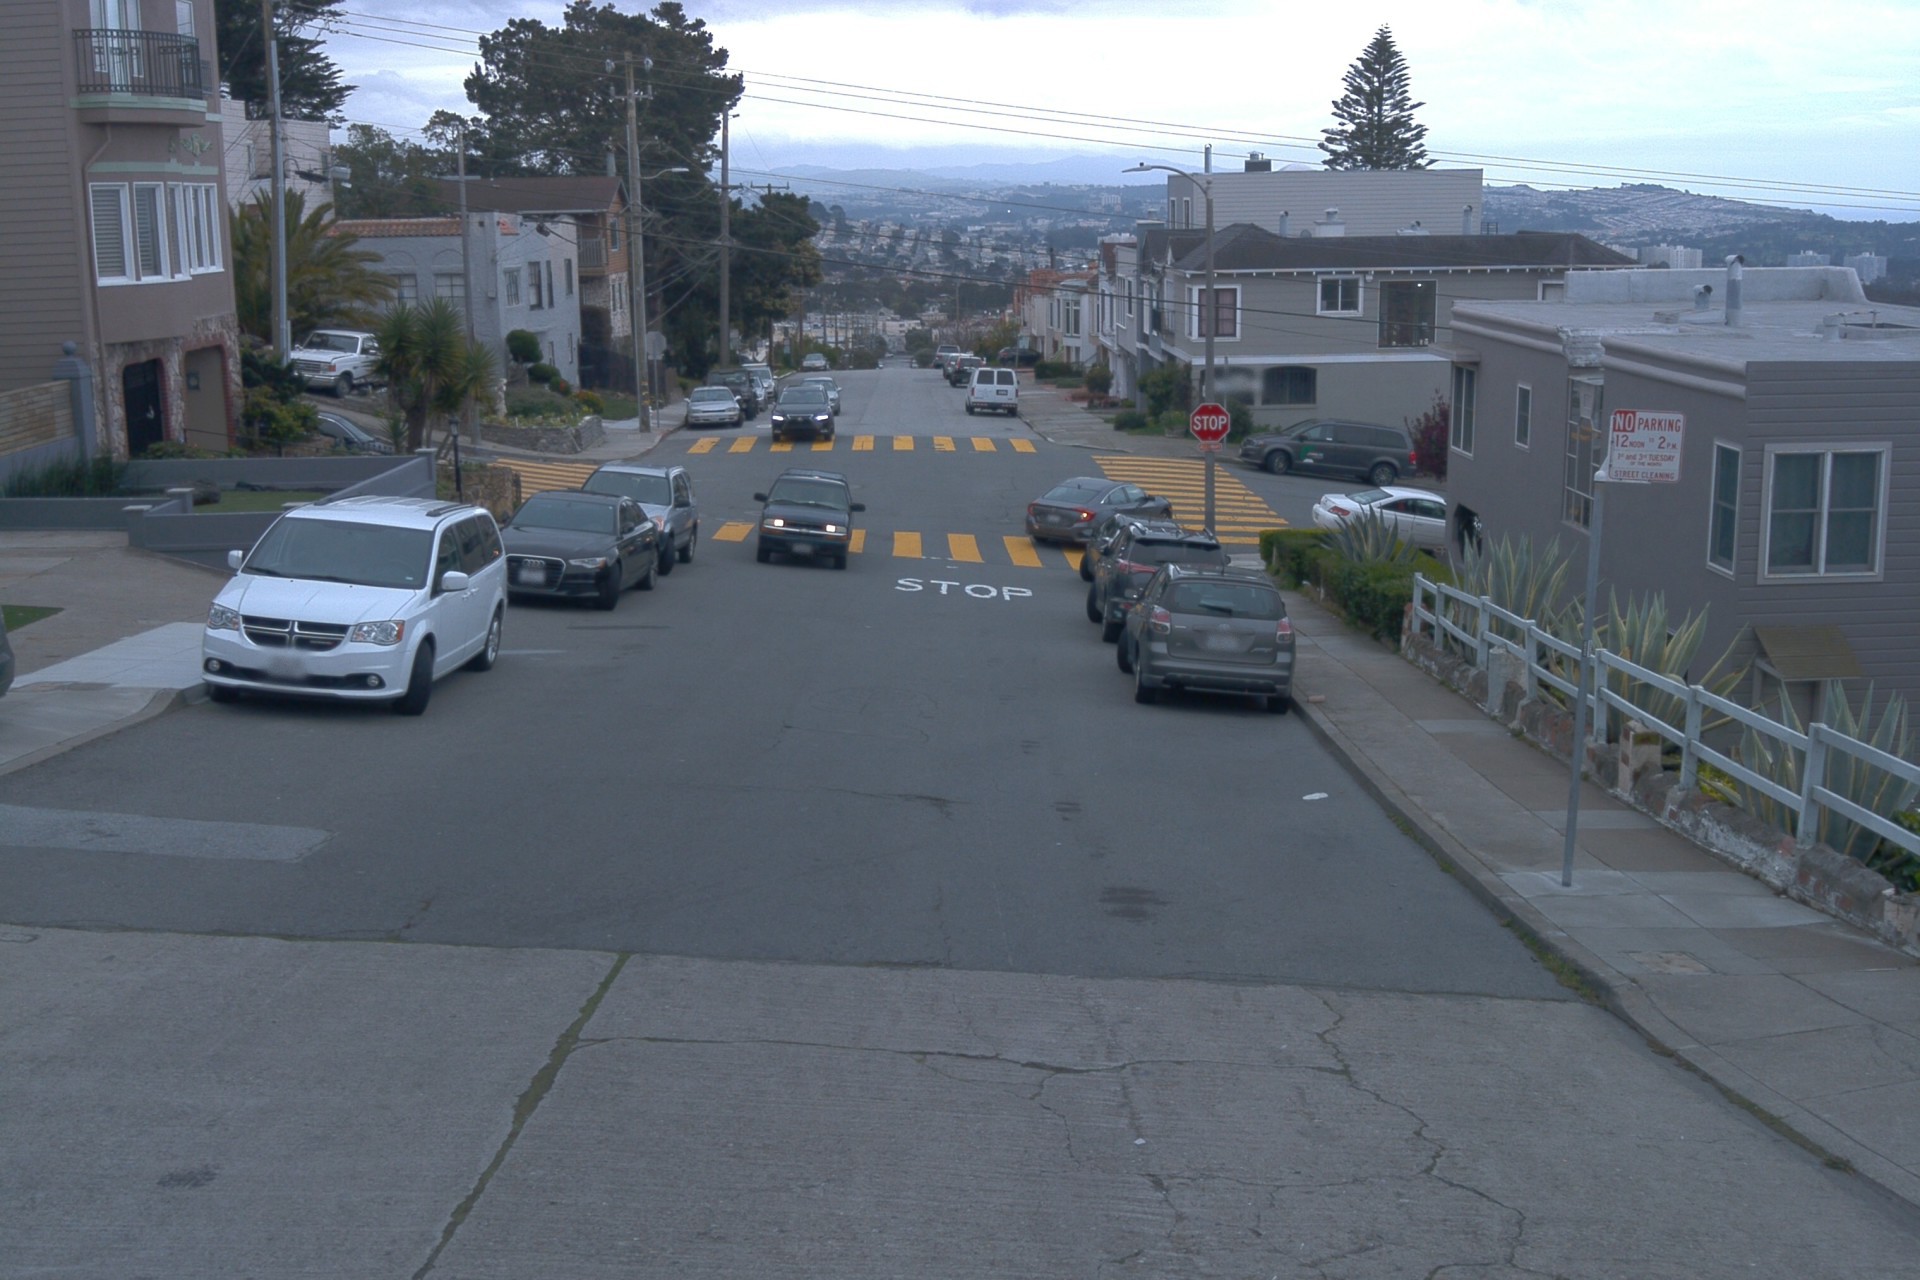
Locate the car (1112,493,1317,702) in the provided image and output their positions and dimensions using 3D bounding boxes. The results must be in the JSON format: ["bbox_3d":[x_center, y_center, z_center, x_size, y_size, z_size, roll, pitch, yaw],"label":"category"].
[{"bbox_3d":[2.890,-0.456,24.326,2.100,2.230,4.506,0,0,3],"label":"car"}]

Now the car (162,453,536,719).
[{"bbox_3d":[-5.642,-0.452,19.795,2.251,2.231,4.980,0,0,-2],"label":"car"}]

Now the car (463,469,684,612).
[{"bbox_3d":[-5.362,-1.329,29.276,2.006,1.790,5.038,0,0,2],"label":"car"}]

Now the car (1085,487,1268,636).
[{"bbox_3d":[3.069,-1.063,30.231,2.279,1.990,4.876,0,0,1],"label":"car"}]
